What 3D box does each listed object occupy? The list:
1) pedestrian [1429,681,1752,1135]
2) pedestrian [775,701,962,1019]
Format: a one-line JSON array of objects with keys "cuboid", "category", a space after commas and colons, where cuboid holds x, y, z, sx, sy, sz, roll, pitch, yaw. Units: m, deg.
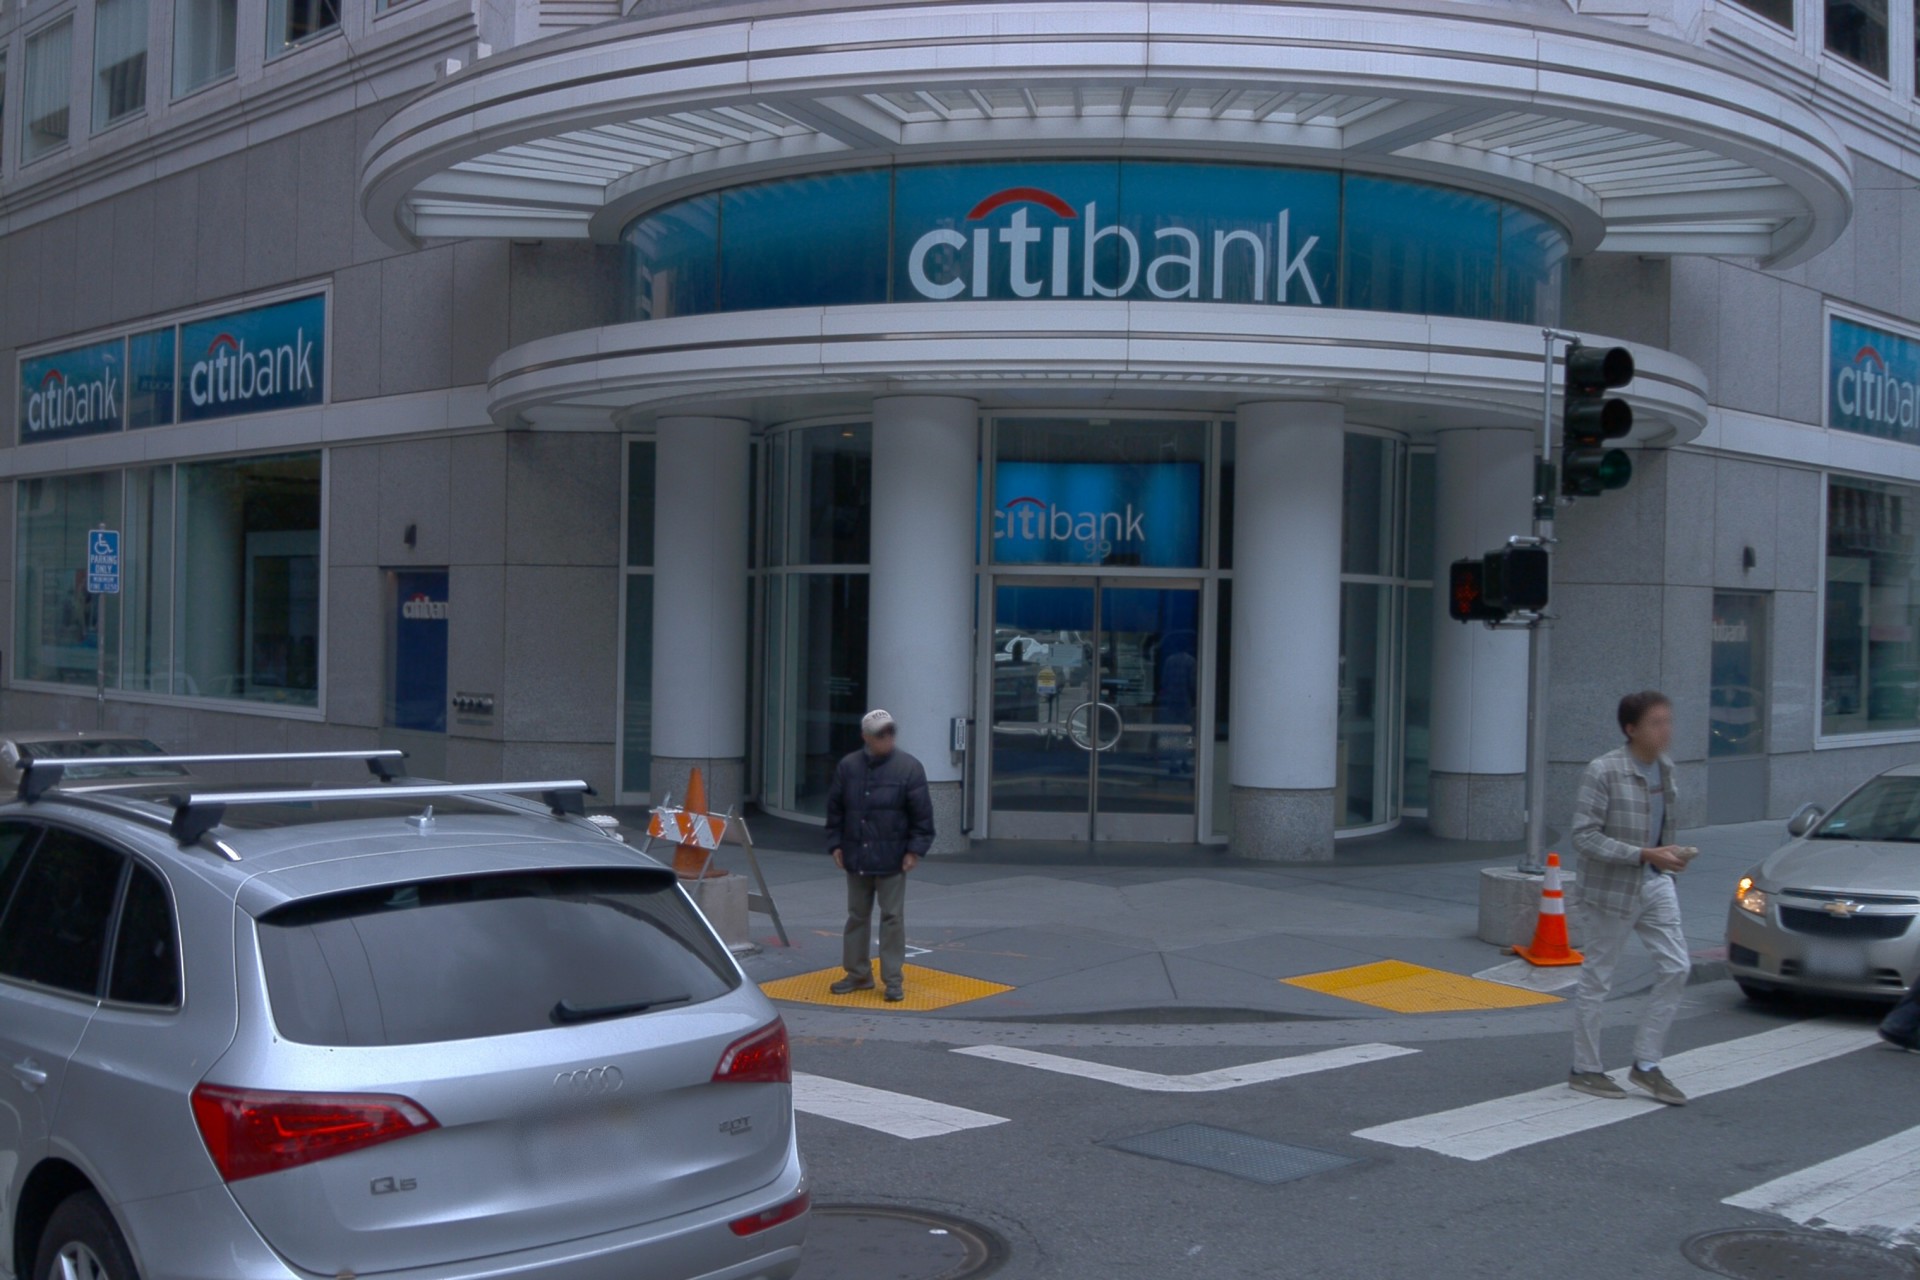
[{"cuboid": [2.906, 1.165, 9.528, 0.824, 1.920, 1.196, 0, 0, -28], "category": "pedestrian"}, {"cuboid": [-0.536, 1.261, 12.119, 0.795, 1.760, 0.801, 0, 0, 31], "category": "pedestrian"}]
